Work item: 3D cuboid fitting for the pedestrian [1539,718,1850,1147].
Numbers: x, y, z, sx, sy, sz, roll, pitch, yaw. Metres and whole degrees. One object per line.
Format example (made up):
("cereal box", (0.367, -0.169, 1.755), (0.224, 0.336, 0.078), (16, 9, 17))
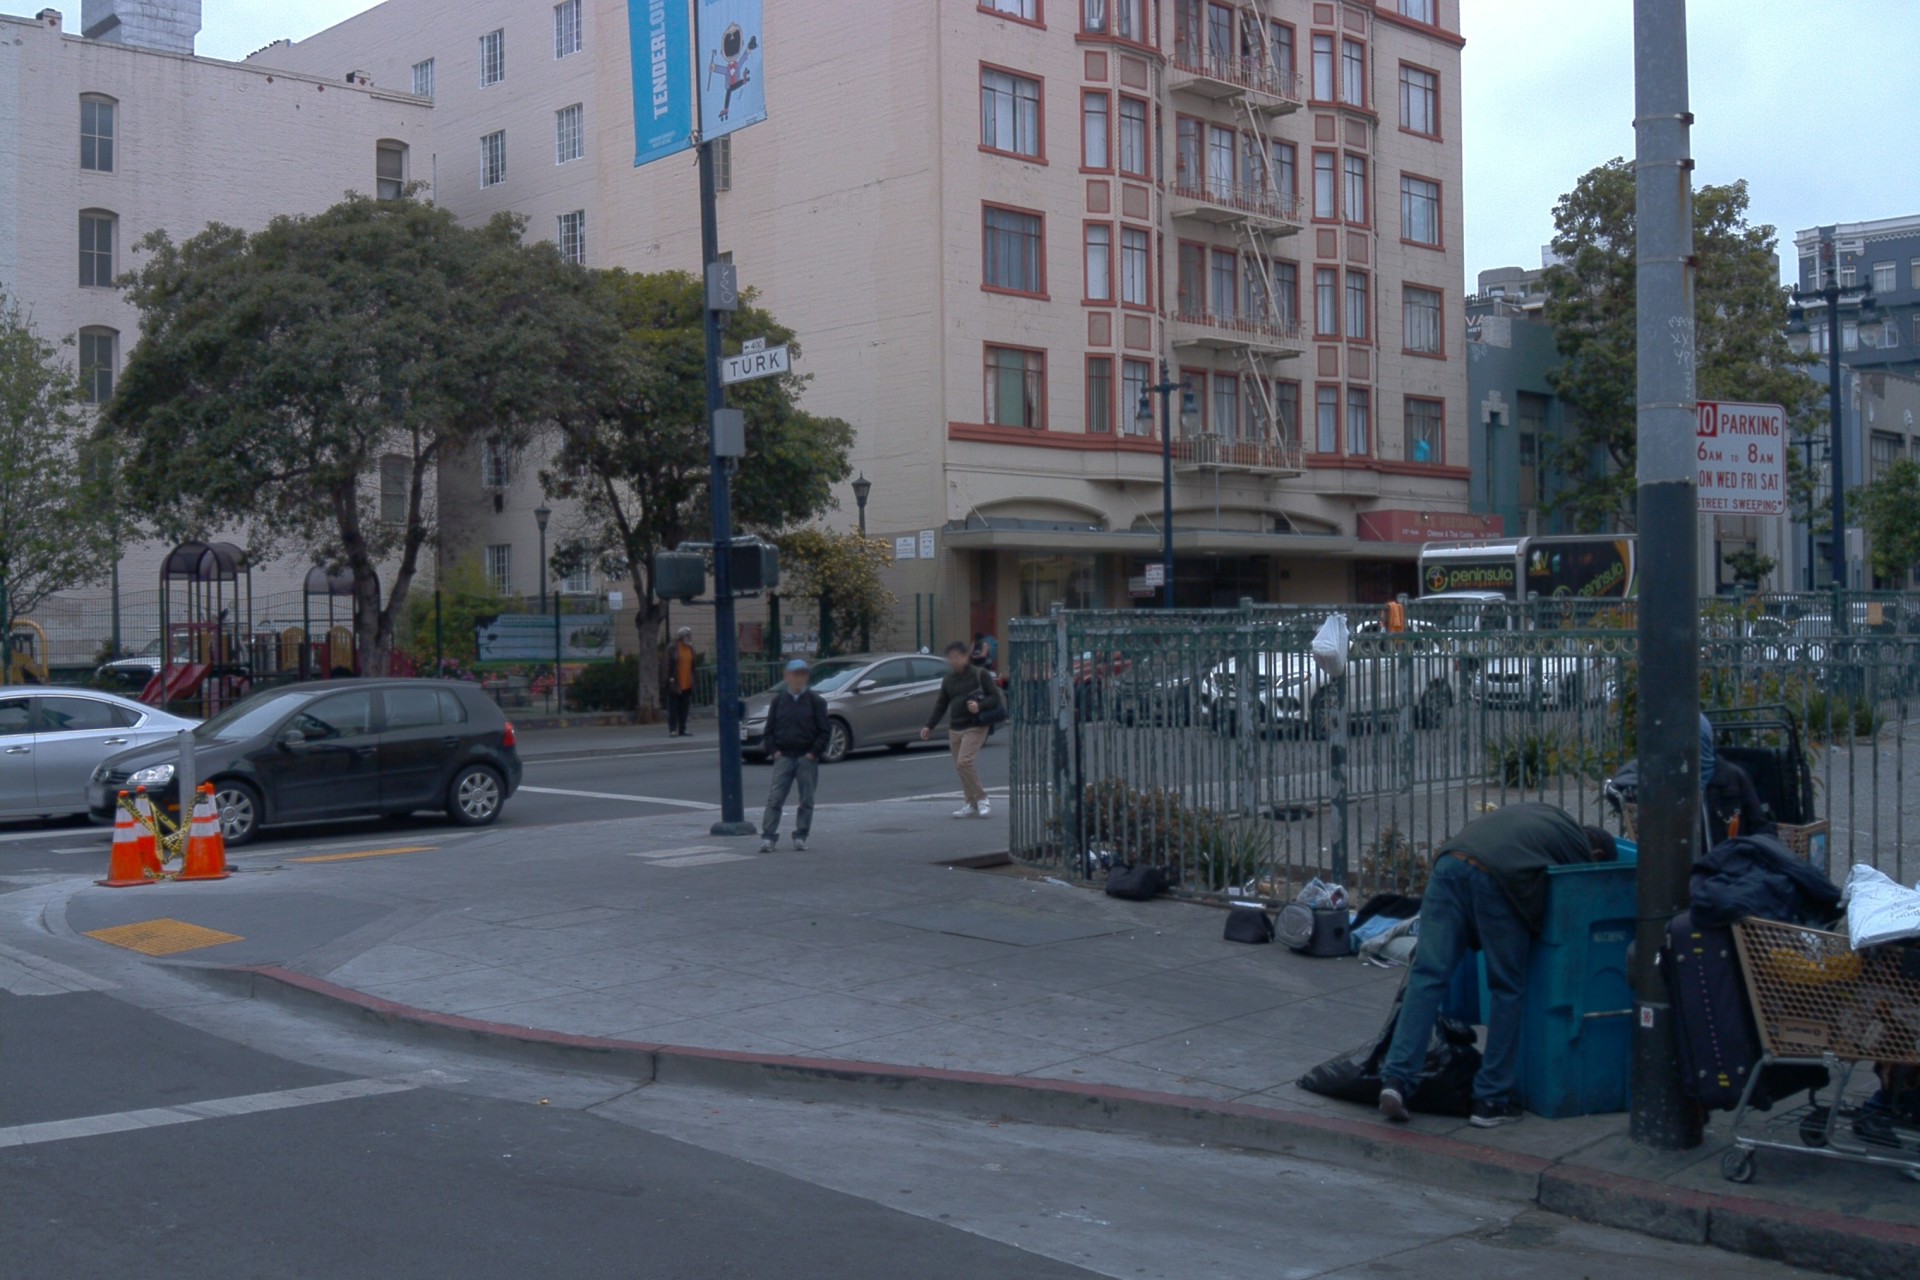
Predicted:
("pedestrian", (3.148, 1.197, 8.889), (0.728, 1.660, 1.024), (-1, 1, -40))

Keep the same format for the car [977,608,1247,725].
("car", (2.833, 0.428, 37.586), (5.045, 1.980, 2.095), (-1, 1, -45))

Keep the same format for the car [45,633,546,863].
("car", (-6.292, 0.922, 19.859), (4.185, 1.950, 1.875), (-1, 1, -44))

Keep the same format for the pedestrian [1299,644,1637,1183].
("pedestrian", (2.068, 1.035, 8.429), (1.056, 2.020, 0.835), (0, 1, -33))

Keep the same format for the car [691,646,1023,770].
("car", (-1.374, 0.887, 28.874), (4.454, 1.540, 1.957), (-1, 1, -44))

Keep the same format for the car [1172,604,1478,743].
("car", (5.606, 0.444, 31.320), (4.775, 1.930, 2.184), (-1, 1, -44))

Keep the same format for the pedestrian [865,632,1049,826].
("pedestrian", (-0.023, 0.792, 19.242), (1.115, 1.720, 1.309), (1, 1, 44))

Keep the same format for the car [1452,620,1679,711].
("car", (10.879, 0.410, 36.935), (4.584, 1.520, 1.930), (-1, 1, -45))

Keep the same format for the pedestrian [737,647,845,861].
("pedestrian", (-1.351, 0.896, 16.622), (0.777, 1.670, 0.798), (0, 1, 3))

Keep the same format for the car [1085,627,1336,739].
("car", (4.218, 0.662, 34.379), (4.317, 1.730, 1.853), (-1, 1, -45))

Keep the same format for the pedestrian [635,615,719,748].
("pedestrian", (-4.779, 0.672, 34.841), (1.047, 2.200, 1.032), (-1, 1, -35))
